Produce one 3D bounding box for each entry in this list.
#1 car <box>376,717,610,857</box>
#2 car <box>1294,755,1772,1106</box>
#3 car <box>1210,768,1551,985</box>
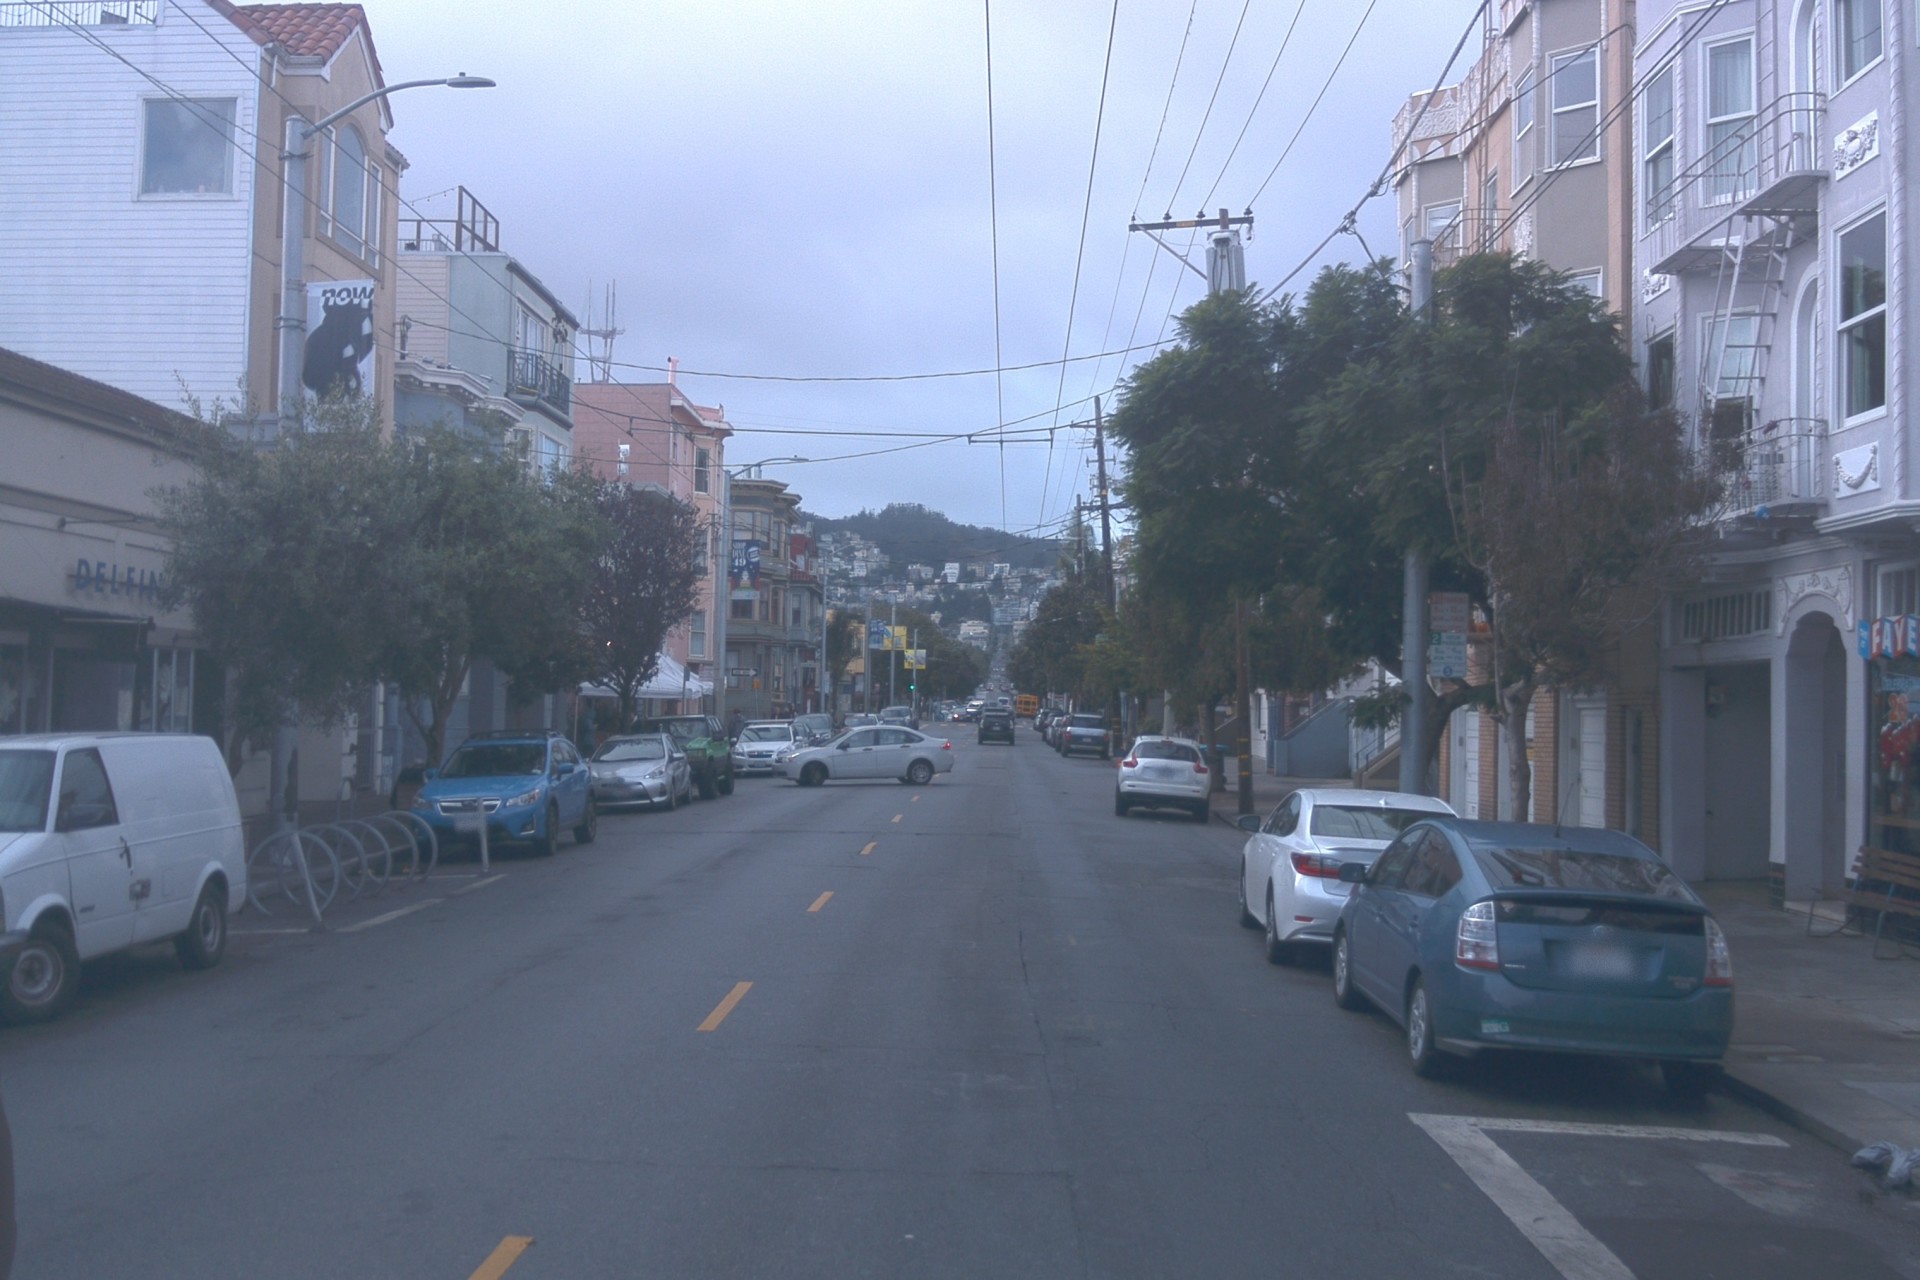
[{"bbox_3d":[-6.160,1.902,28.038,2.059,1.660,4.380,1,-2,1],"label":"car"},{"bbox_3d":[3.452,1.691,13.494,2.039,1.730,4.444,1,-2,3],"label":"car"},{"bbox_3d":[3.529,1.969,18.482,2.162,1.460,4.919,1,-2,2],"label":"car"}]
